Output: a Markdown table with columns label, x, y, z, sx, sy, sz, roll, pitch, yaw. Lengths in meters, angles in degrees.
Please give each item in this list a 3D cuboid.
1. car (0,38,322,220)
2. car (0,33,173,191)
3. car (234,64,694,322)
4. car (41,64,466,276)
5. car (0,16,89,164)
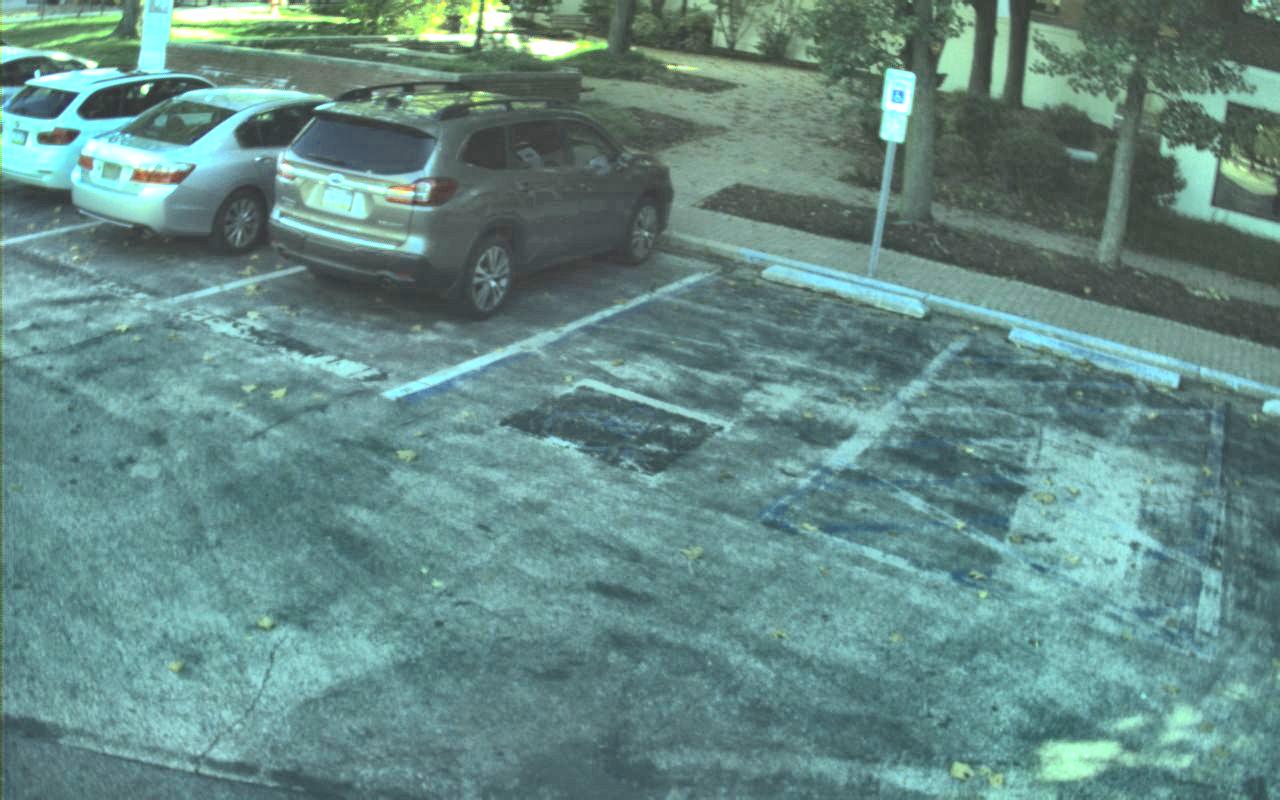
| label | x | y | z | sx | sy | sz | roll | pitch | yaw |
| --- | --- | --- | --- | --- | --- | --- | --- | --- | --- |
| car | -6.023 | -3.332 | 13.932 | 1.949 | 1.617 | 4.465 | 8 | 19 | 28 |
| car | -8.515 | -3.919 | 14.962 | 1.895 | 1.584 | 4.343 | 8 | 19 | 28 |
| car | -1.392 | -2.171 | 11.623 | 2.017 | 1.742 | 4.786 | 7 | 18 | 25 |
| car | -3.936 | -2.530 | 12.472 | 1.920 | 1.563 | 4.473 | 8 | 19 | 29 |
| car | -10.606 | -4.673 | 16.109 | 1.954 | 1.687 | 4.460 | 8 | 19 | 28 |
